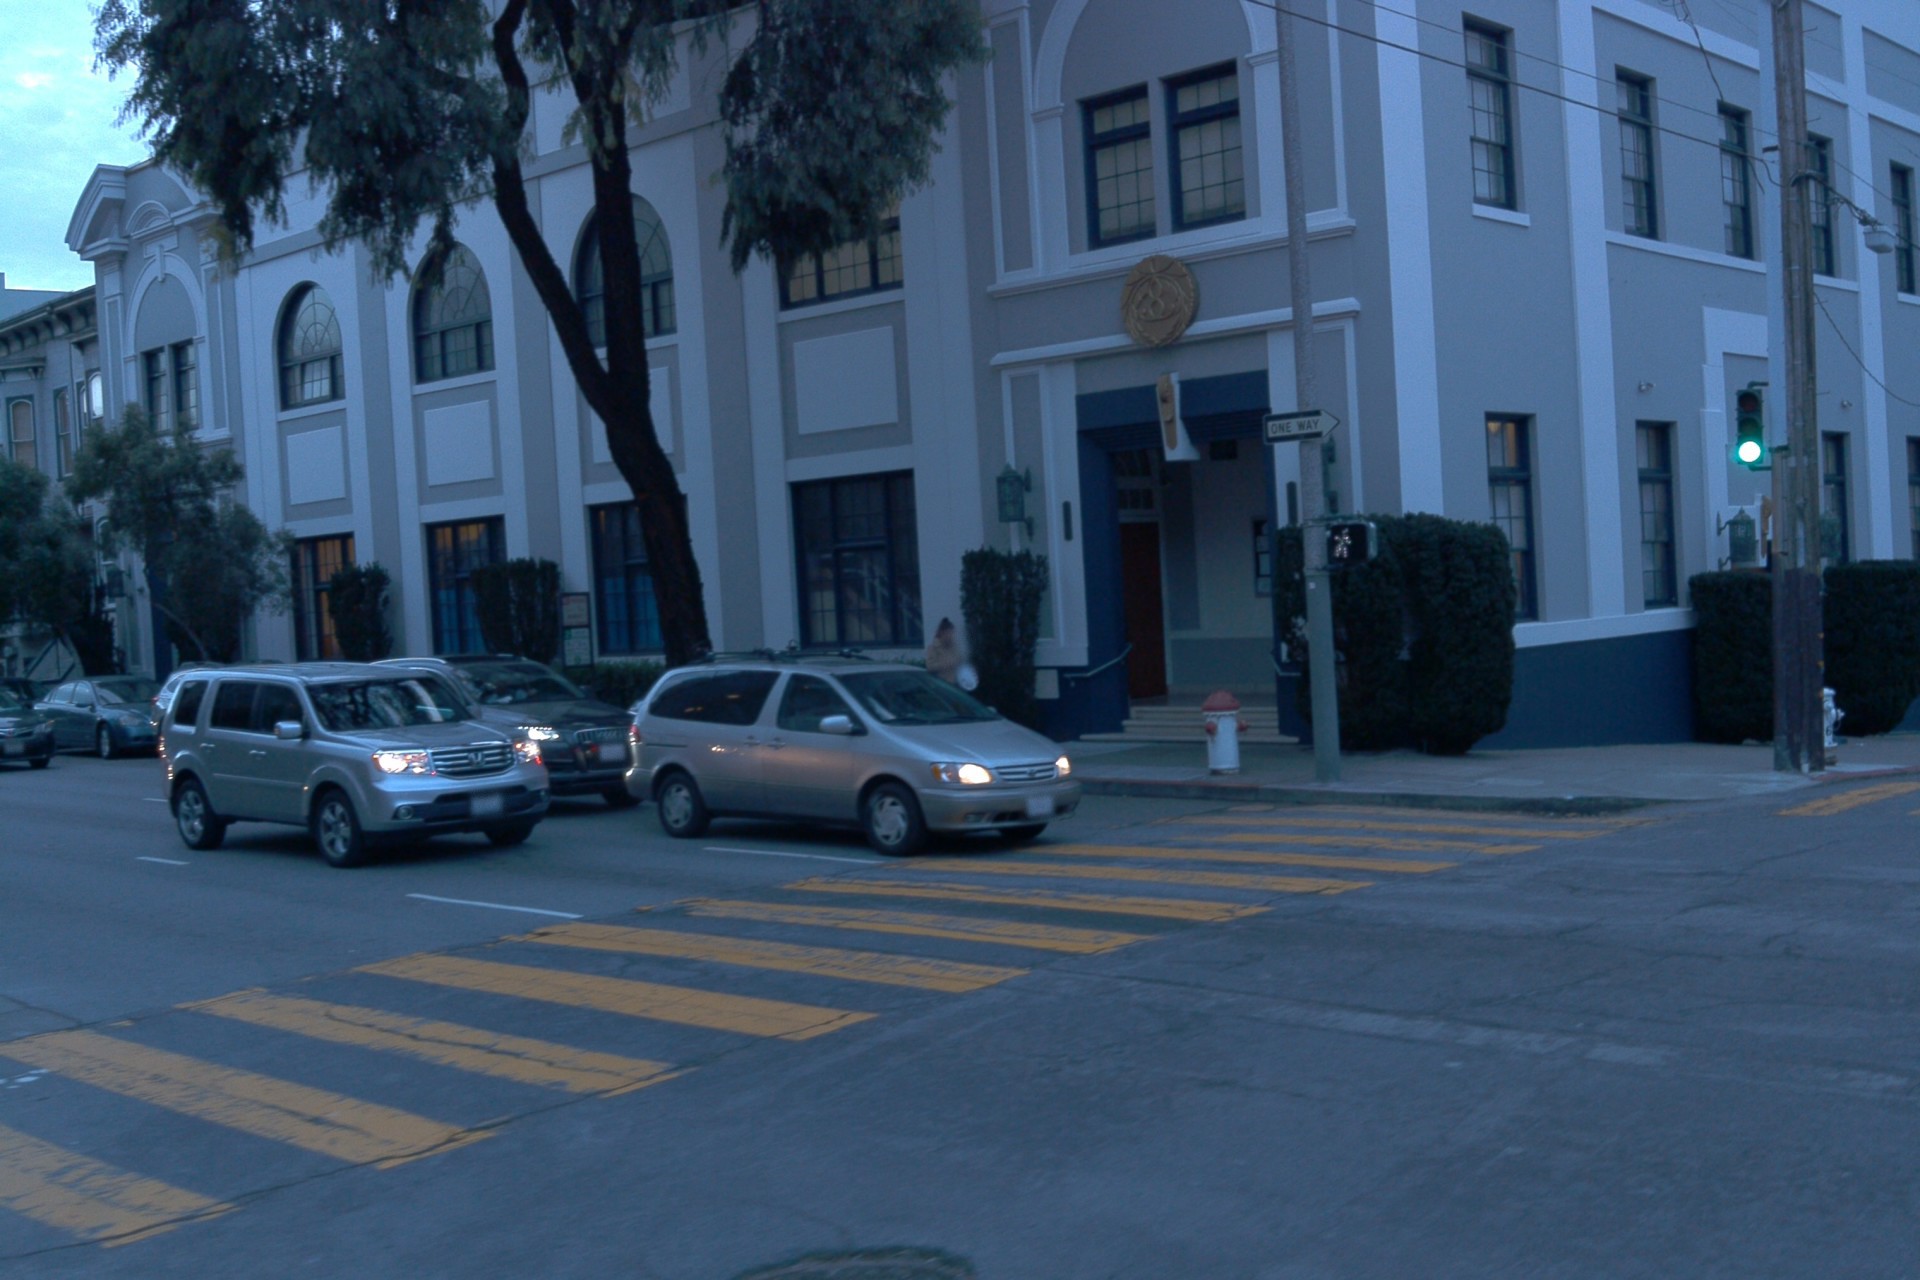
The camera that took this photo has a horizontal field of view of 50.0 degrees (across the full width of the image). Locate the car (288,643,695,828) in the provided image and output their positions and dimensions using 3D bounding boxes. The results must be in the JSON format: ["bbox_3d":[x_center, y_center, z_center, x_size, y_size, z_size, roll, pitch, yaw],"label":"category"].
[{"bbox_3d":[-5.494,0.989,23.719,4.978,1.820,2.228,1,1,44],"label":"car"}]

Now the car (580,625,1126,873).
[{"bbox_3d":[-1.116,0.862,19.097,4.978,1.950,2.238,1,1,44],"label":"car"}]

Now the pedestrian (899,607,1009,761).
[{"bbox_3d":[-0.074,0.539,26.195,1.087,1.903,0.865,1,1,43],"label":"pedestrian"}]

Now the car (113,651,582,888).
[{"bbox_3d":[-6.019,1.114,19.901,4.735,1.900,2.269,1,1,43],"label":"car"}]
